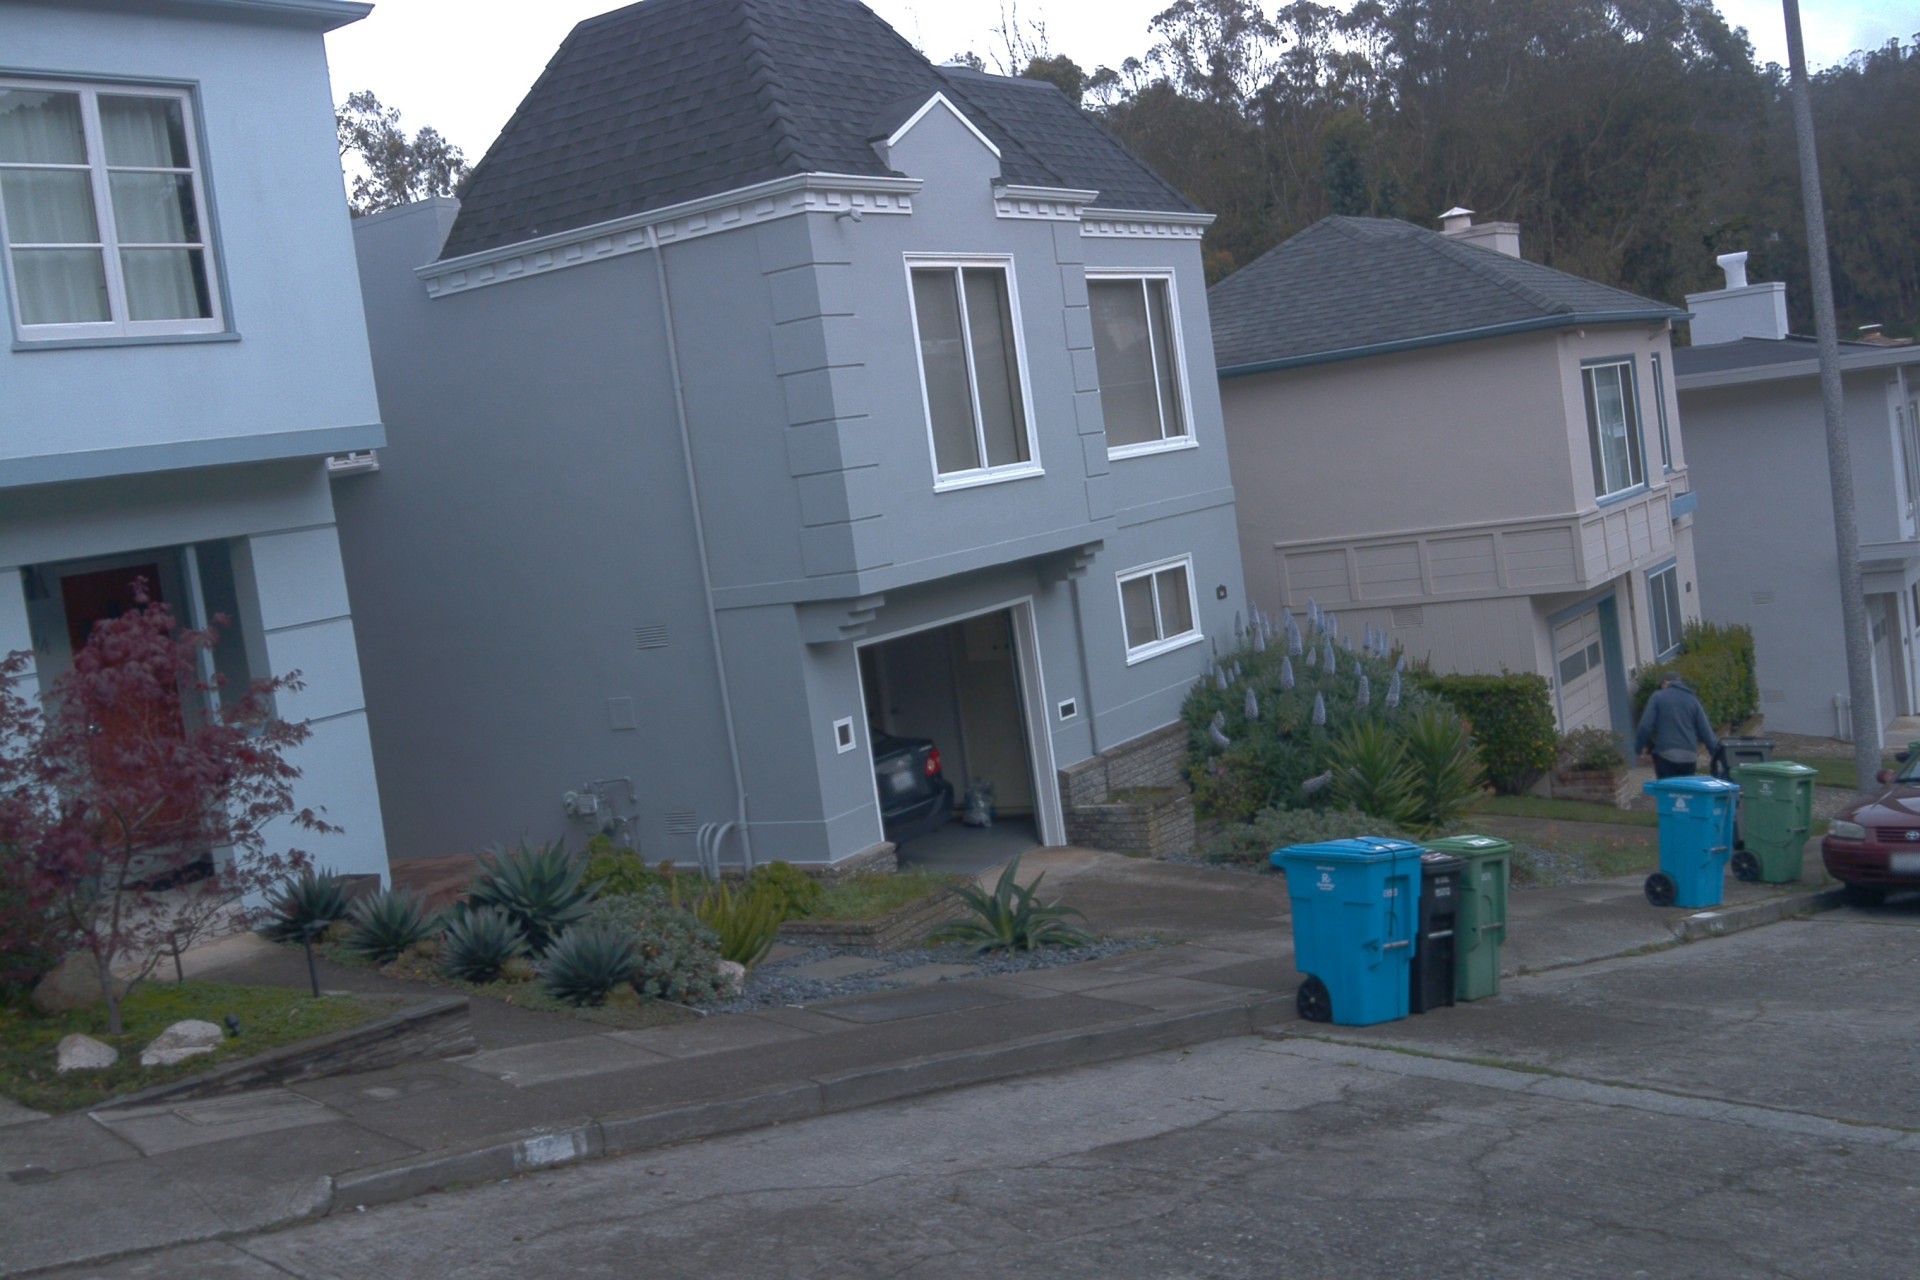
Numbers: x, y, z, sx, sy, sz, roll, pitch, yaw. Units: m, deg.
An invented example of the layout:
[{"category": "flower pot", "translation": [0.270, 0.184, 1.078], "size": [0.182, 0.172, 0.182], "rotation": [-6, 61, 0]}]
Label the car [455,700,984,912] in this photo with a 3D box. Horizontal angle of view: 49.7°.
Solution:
[{"category": "car", "translation": [-2.078, 1.320, 17.713], "size": [4.109, 1.520, 1.949], "rotation": [0, 0, 30]}]

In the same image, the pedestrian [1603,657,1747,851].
[{"category": "pedestrian", "translation": [6.592, 1.031, 19.168], "size": [1.000, 1.730, 1.000], "rotation": [0, 0, 2]}]
